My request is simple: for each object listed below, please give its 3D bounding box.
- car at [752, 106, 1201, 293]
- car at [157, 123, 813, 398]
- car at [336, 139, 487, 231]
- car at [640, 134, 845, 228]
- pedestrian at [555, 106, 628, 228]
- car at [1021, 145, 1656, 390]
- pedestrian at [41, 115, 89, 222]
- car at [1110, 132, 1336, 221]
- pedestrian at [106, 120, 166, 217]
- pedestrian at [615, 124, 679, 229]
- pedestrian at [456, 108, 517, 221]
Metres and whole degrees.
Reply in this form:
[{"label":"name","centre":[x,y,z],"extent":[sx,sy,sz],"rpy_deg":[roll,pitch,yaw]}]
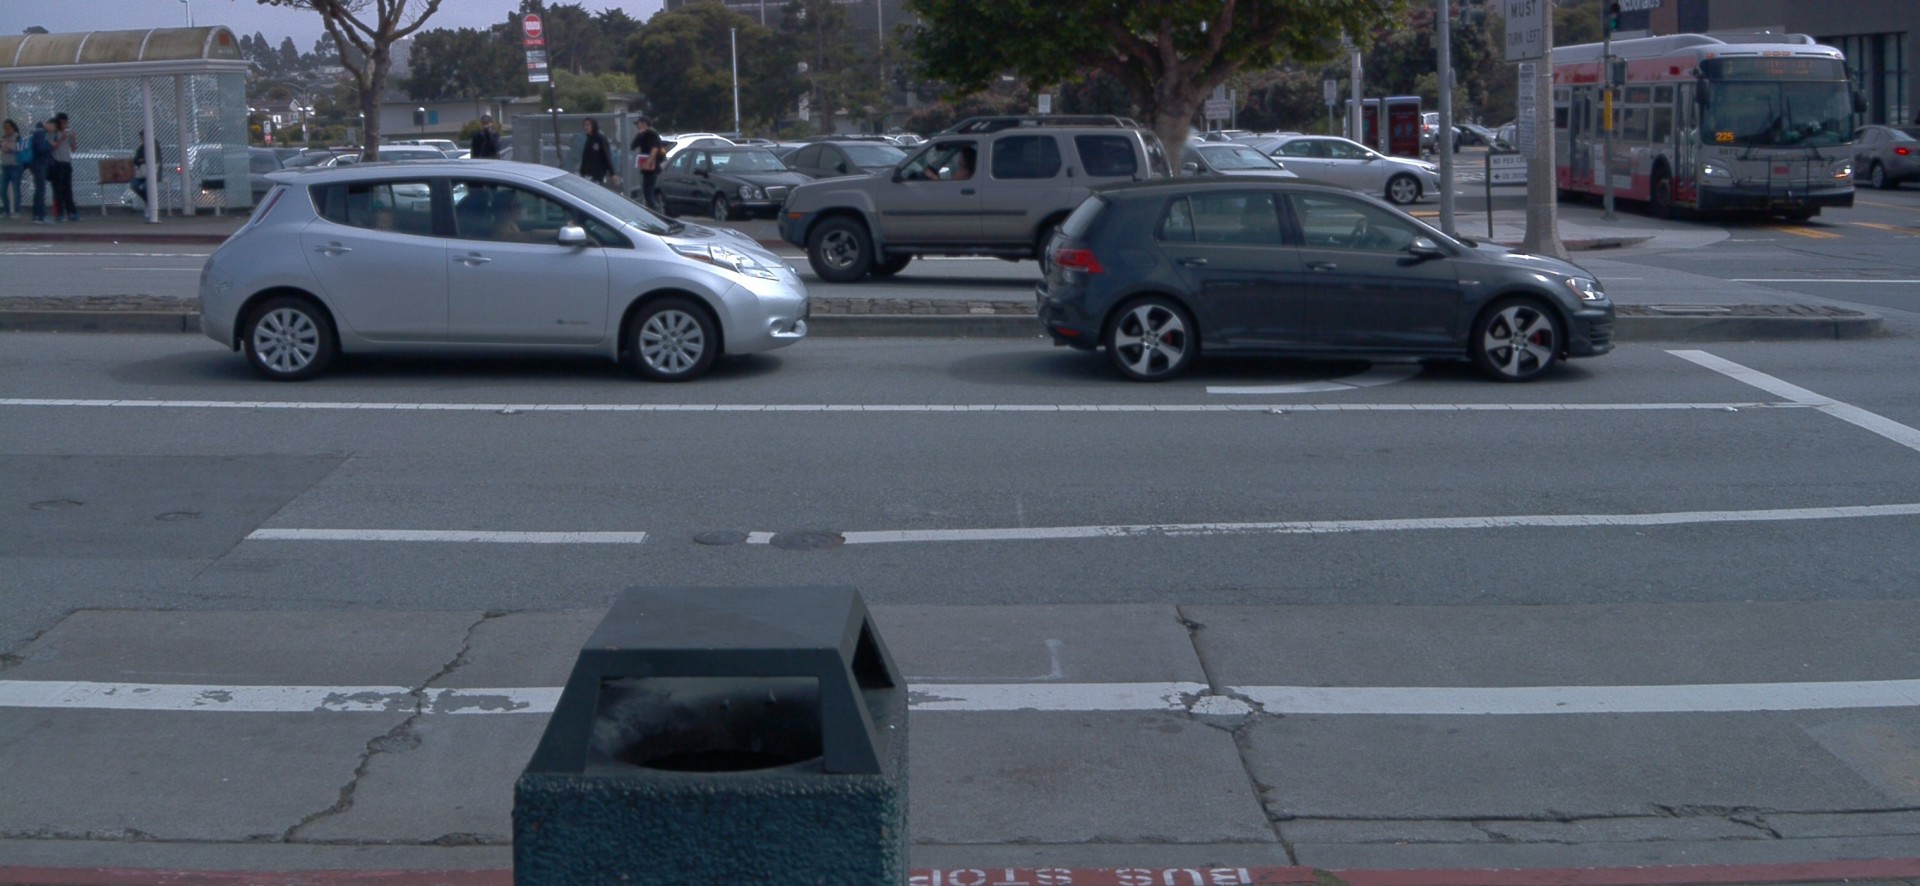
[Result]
[{"label":"car","centre":[0.234,-2.694,23.072],"extent":[4.647,1.944,2.057],"rpy_deg":[1,4,14]},{"label":"car","centre":[-3.363,-1.387,15.393],"extent":[4.414,1.864,2.083],"rpy_deg":[-1,4,-1]},{"label":"car","centre":[-9.887,-4.603,37.034],"extent":[2.097,1.532,4.510],"rpy_deg":[-2,6,-21]},{"label":"car","centre":[-3.908,-4.584,36.381],"extent":[2.066,1.532,4.478],"rpy_deg":[-3,6,-28]},{"label":"pedestrian","centre":[-5.540,-4.143,31.103],"extent":[0.788,1.796,0.720],"rpy_deg":[1,2,33]},{"label":"car","centre":[2.682,-1.337,15.397],"extent":[4.336,1.664,1.933],"rpy_deg":[-1,4,-1]},{"label":"pedestrian","centre":[-13.826,-4.236,31.943],"extent":[0.631,1.627,0.635],"rpy_deg":[-1,2,-21]},{"label":"car","centre":[4.563,-4.687,36.599],"extent":[2.041,1.472,4.423],"rpy_deg":[-2,6,-22]},{"label":"pedestrian","centre":[-13.075,-4.346,32.797],"extent":[0.667,1.507,0.641],"rpy_deg":[-1,2,1]},{"label":"pedestrian","centre":[-4.787,-4.072,31.630],"extent":[0.734,1.567,0.669],"rpy_deg":[-2,2,-34]},{"label":"pedestrian","centre":[-7.504,-4.404,32.781],"extent":[0.758,1.756,0.652],"rpy_deg":[0,2,4]}]
